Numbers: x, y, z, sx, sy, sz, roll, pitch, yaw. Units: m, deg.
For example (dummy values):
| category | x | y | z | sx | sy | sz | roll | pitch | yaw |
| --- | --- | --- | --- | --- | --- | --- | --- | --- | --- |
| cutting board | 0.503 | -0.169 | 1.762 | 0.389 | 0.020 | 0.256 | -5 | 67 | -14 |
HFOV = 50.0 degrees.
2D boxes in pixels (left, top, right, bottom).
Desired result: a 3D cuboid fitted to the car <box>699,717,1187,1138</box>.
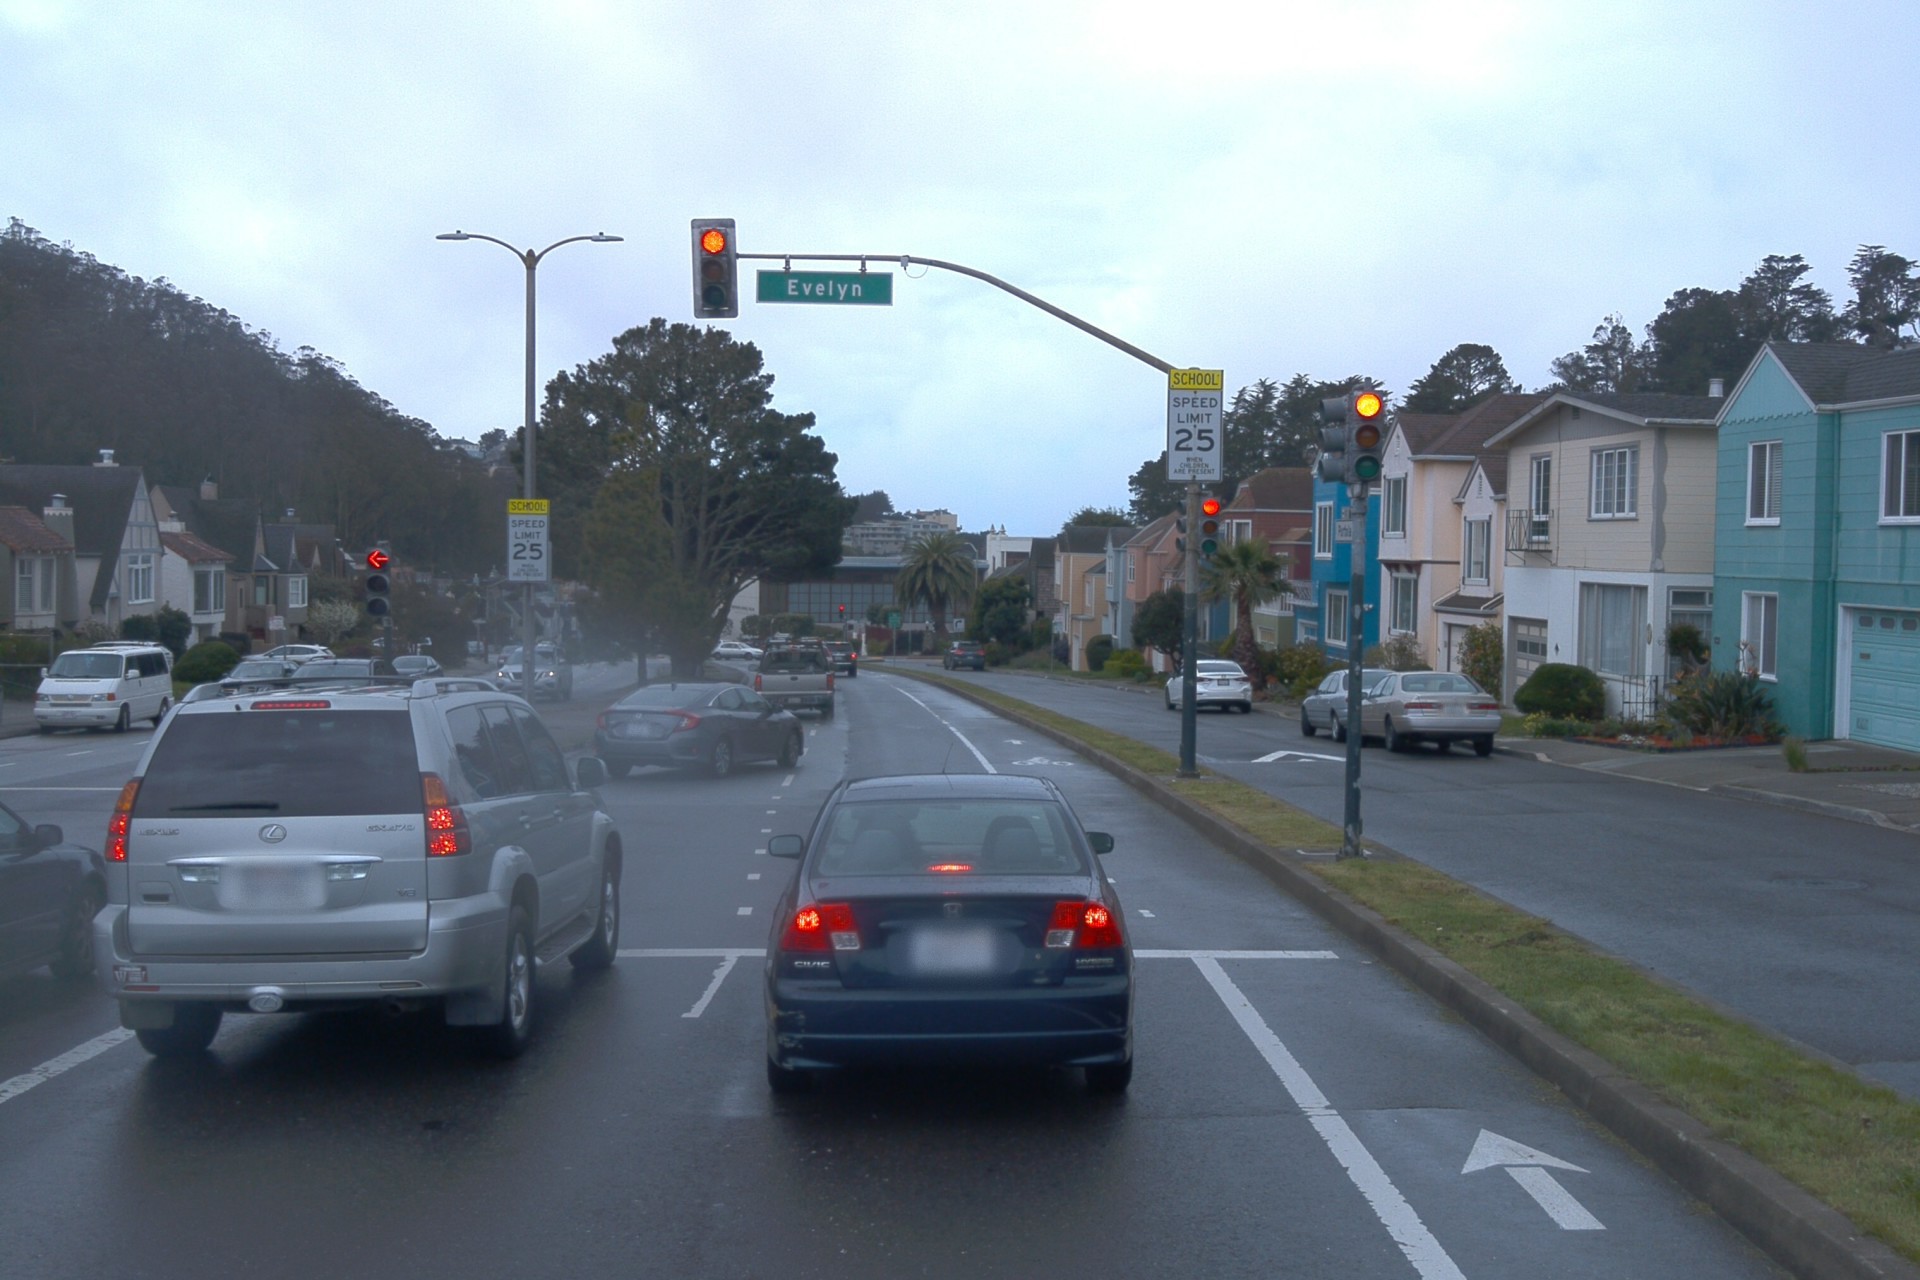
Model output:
| category | x | y | z | sx | sy | sz | roll | pitch | yaw |
| --- | --- | --- | --- | --- | --- | --- | --- | --- | --- |
| car | -0.111 | 1.258 | 10.555 | 2.004 | 1.570 | 4.164 | 0 | 0 | -1 |

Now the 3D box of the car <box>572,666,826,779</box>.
| category | x | y | z | sx | sy | sz | roll | pitch | yaw |
| --- | --- | --- | --- | --- | --- | --- | --- | --- | --- |
| car | -3.866 | 1.186 | 31.467 | 1.968 | 1.520 | 4.737 | 0 | 0 | 19 |

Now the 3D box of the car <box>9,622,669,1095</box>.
| category | x | y | z | sx | sy | sz | roll | pitch | yaw |
| --- | --- | --- | --- | --- | --- | --- | --- | --- | --- |
| car | -3.060 | 0.959 | 11.418 | 2.249 | 2.070 | 4.734 | 0 | 0 | 0 |

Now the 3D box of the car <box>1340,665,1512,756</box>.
| category | x | y | z | sx | sy | sz | roll | pitch | yaw |
| --- | --- | --- | --- | --- | --- | --- | --- | --- | --- |
| car | 8.081 | 1.189 | 36.133 | 1.755 | 1.440 | 4.469 | 0 | 0 | -4 |
